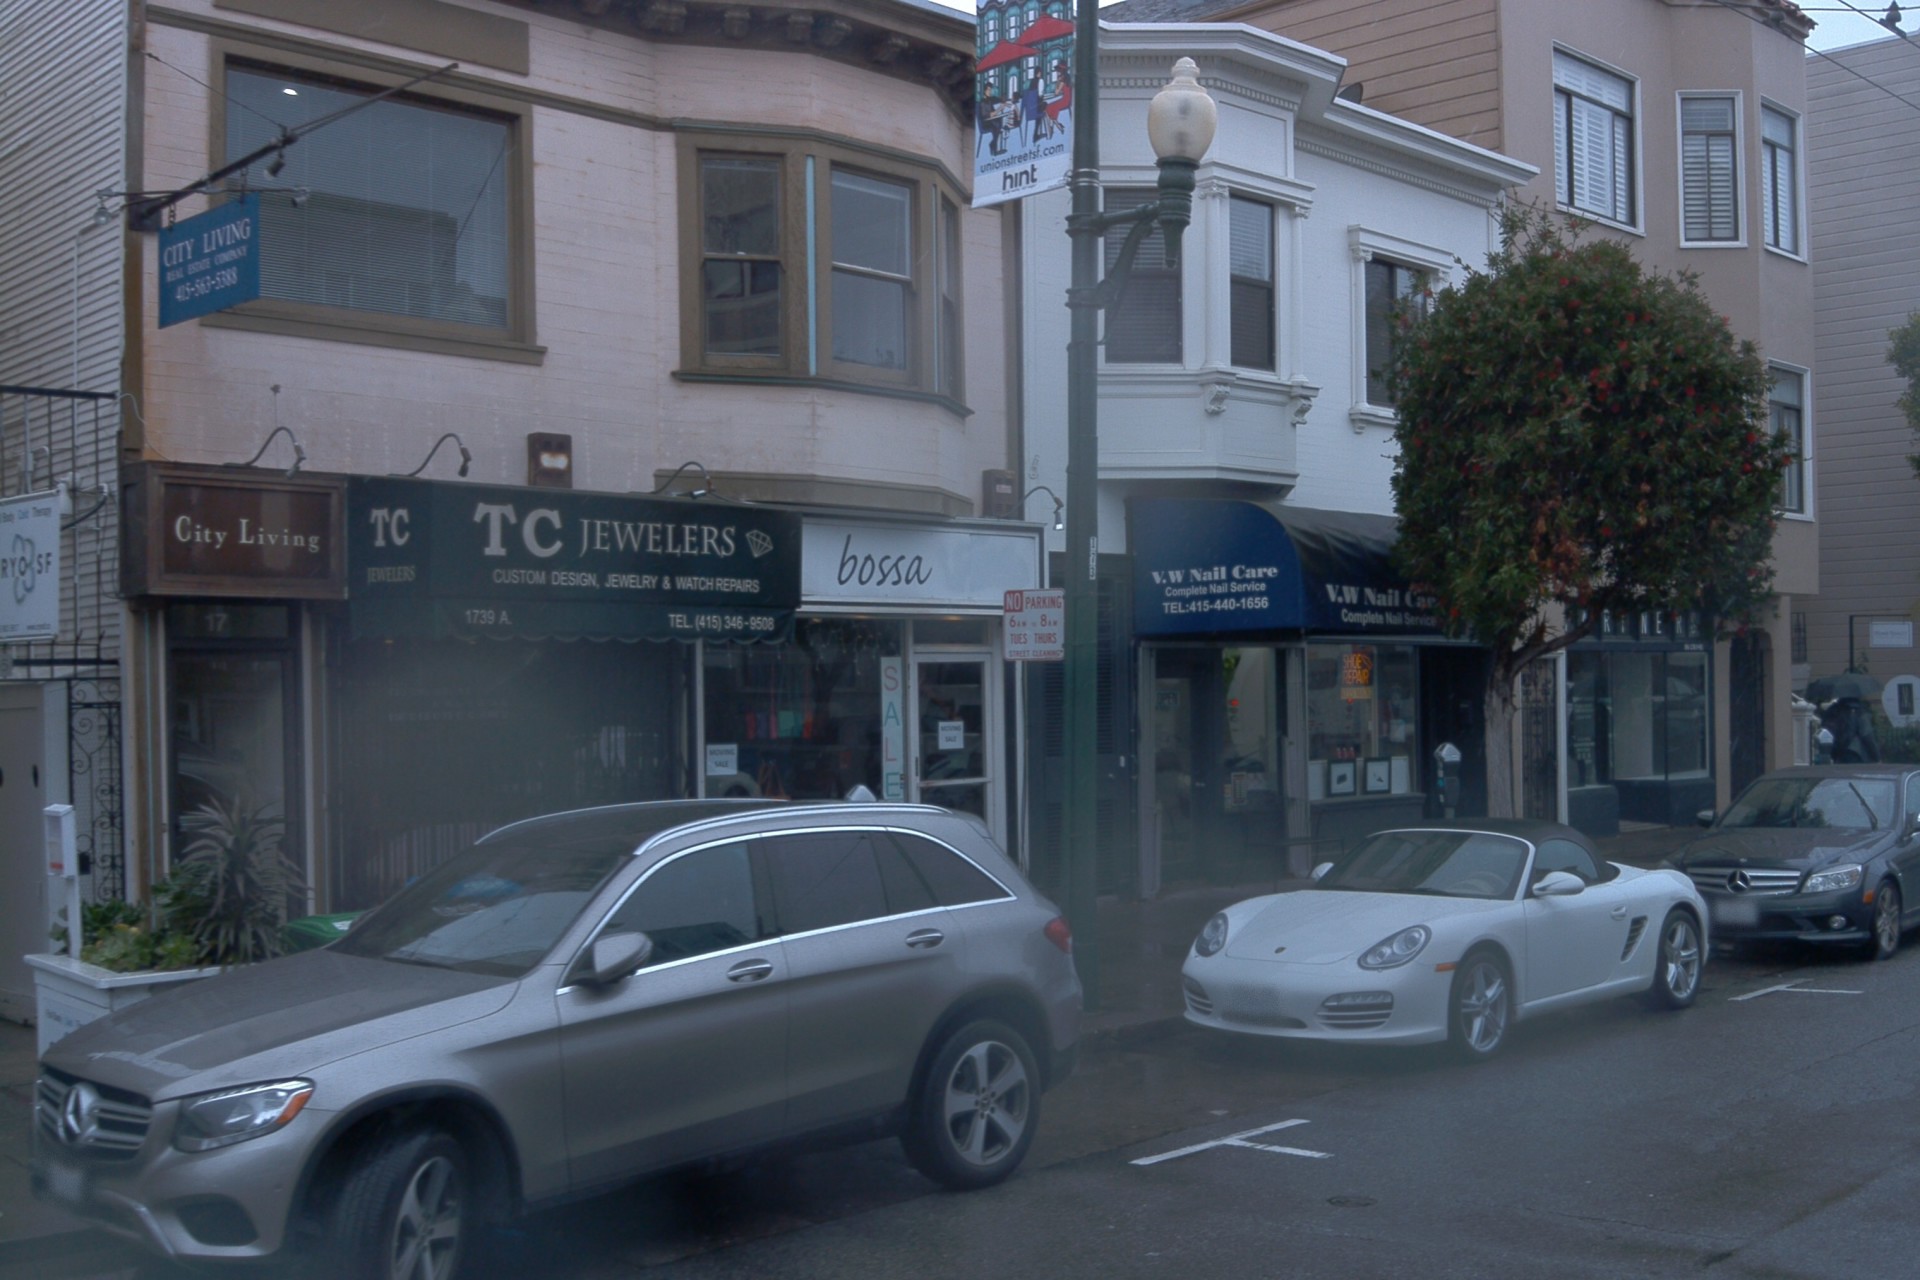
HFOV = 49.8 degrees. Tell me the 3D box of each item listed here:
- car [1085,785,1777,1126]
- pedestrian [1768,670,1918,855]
[{"bbox_3d":[3.094,1.773,12.908,2.107,1.370,4.612,2,1,44],"label":"car"},{"bbox_3d":[10.759,1.447,25.182,1.167,2.120,1.522,2,1,44],"label":"pedestrian"}]
